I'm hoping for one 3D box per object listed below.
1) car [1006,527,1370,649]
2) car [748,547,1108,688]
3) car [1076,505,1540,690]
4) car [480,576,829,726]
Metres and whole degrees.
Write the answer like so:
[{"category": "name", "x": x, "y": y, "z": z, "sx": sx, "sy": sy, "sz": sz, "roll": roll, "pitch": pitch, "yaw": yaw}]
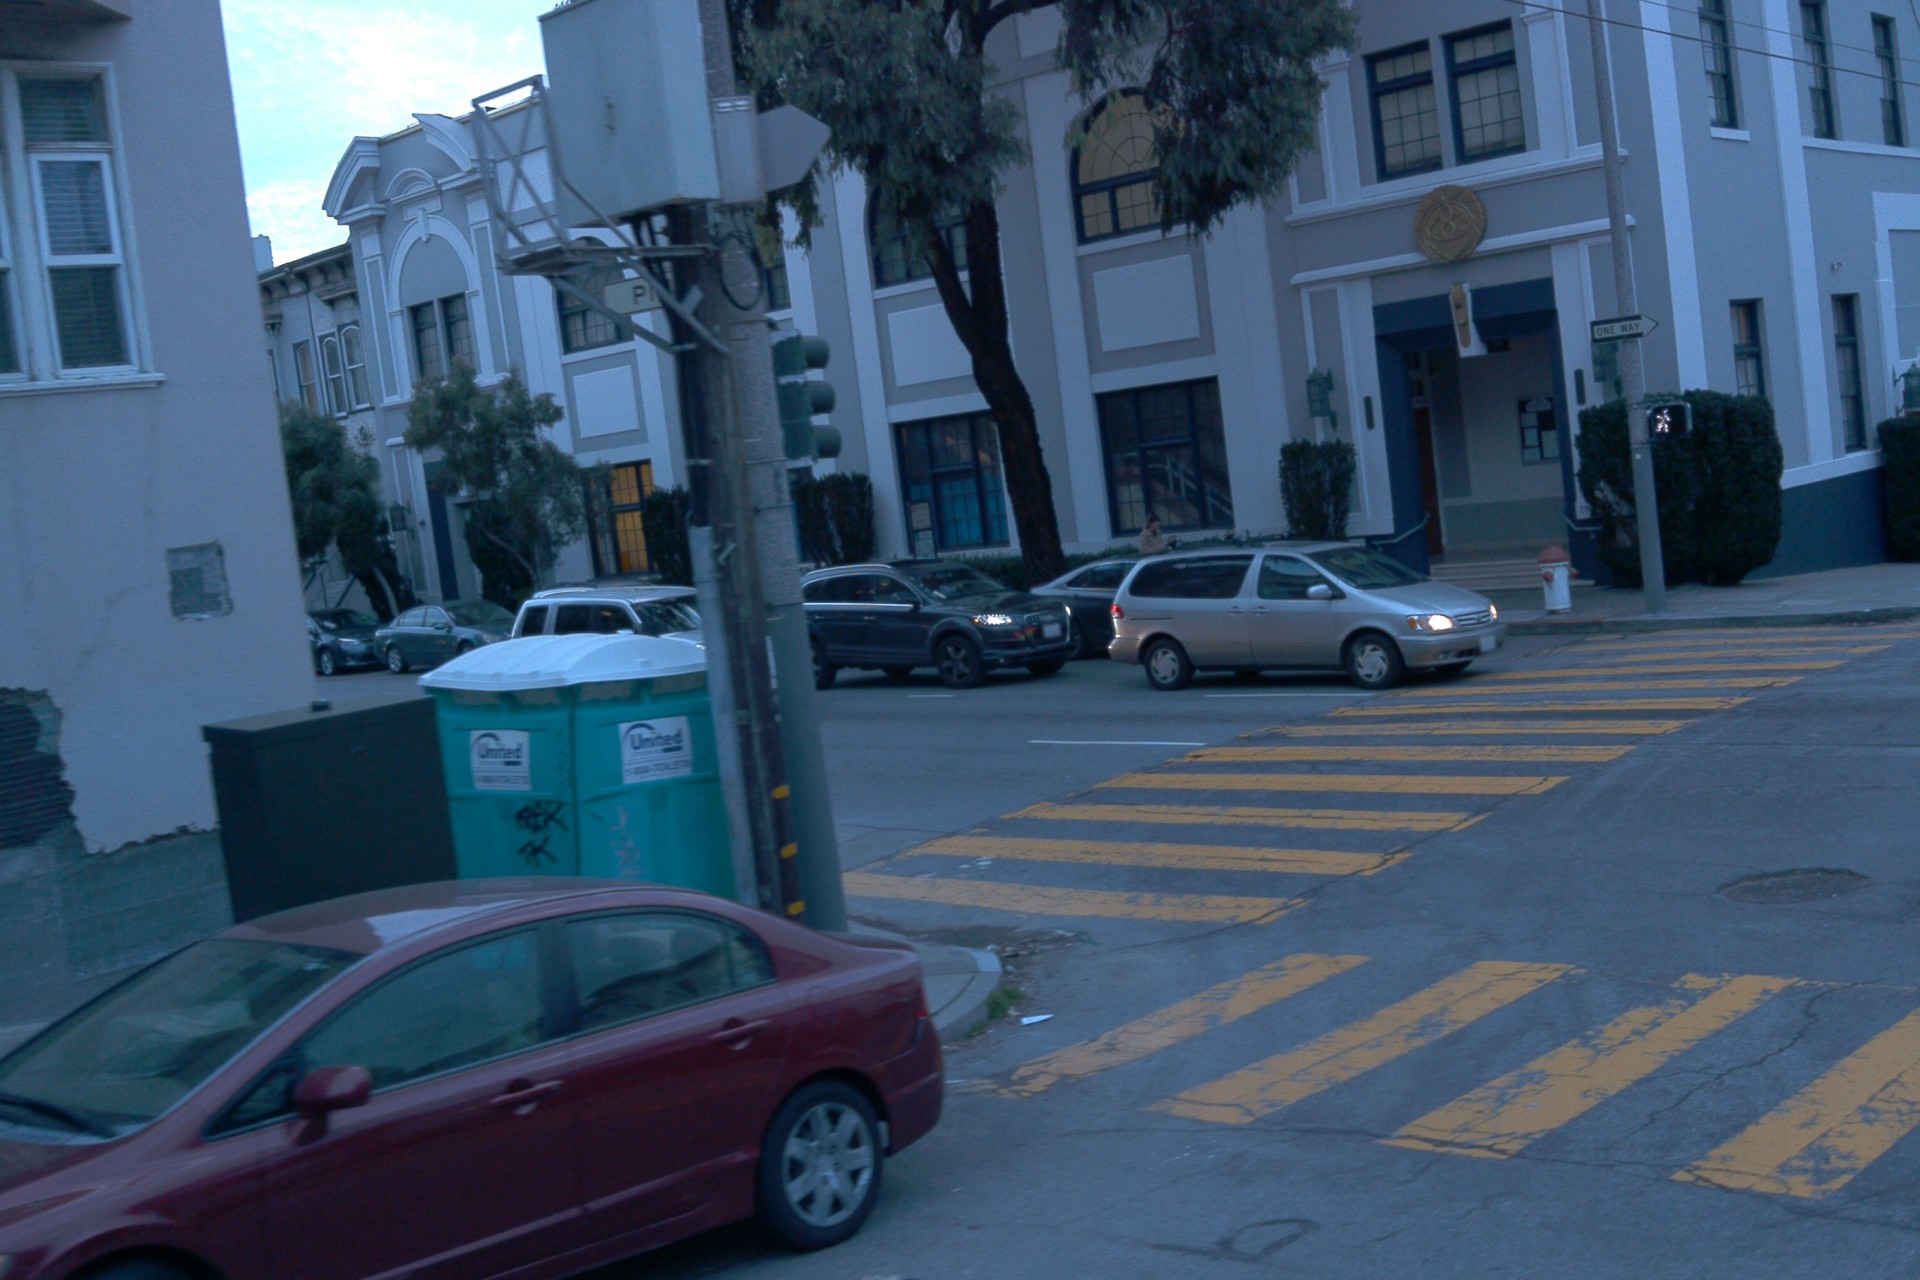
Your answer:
[{"category": "car", "x": 3.205, "y": -0.724, "z": 29.633, "sx": 4.891, "sy": 1.610, "sz": 2.152, "roll": 1, "pitch": 1, "yaw": 44}, {"category": "car", "x": -0.536, "y": -0.331, "z": 29.104, "sx": 4.978, "sy": 1.820, "sz": 2.228, "roll": 1, "pitch": 1, "yaw": 44}, {"category": "car", "x": 4.011, "y": -0.492, "z": 24.287, "sx": 4.978, "sy": 1.950, "sz": 2.238, "roll": 1, "pitch": 1, "yaw": 44}, {"category": "car", "x": -4.272, "y": 0.098, "z": 28.342, "sx": 4.735, "sy": 1.900, "sz": 2.269, "roll": 1, "pitch": 1, "yaw": 42}]
